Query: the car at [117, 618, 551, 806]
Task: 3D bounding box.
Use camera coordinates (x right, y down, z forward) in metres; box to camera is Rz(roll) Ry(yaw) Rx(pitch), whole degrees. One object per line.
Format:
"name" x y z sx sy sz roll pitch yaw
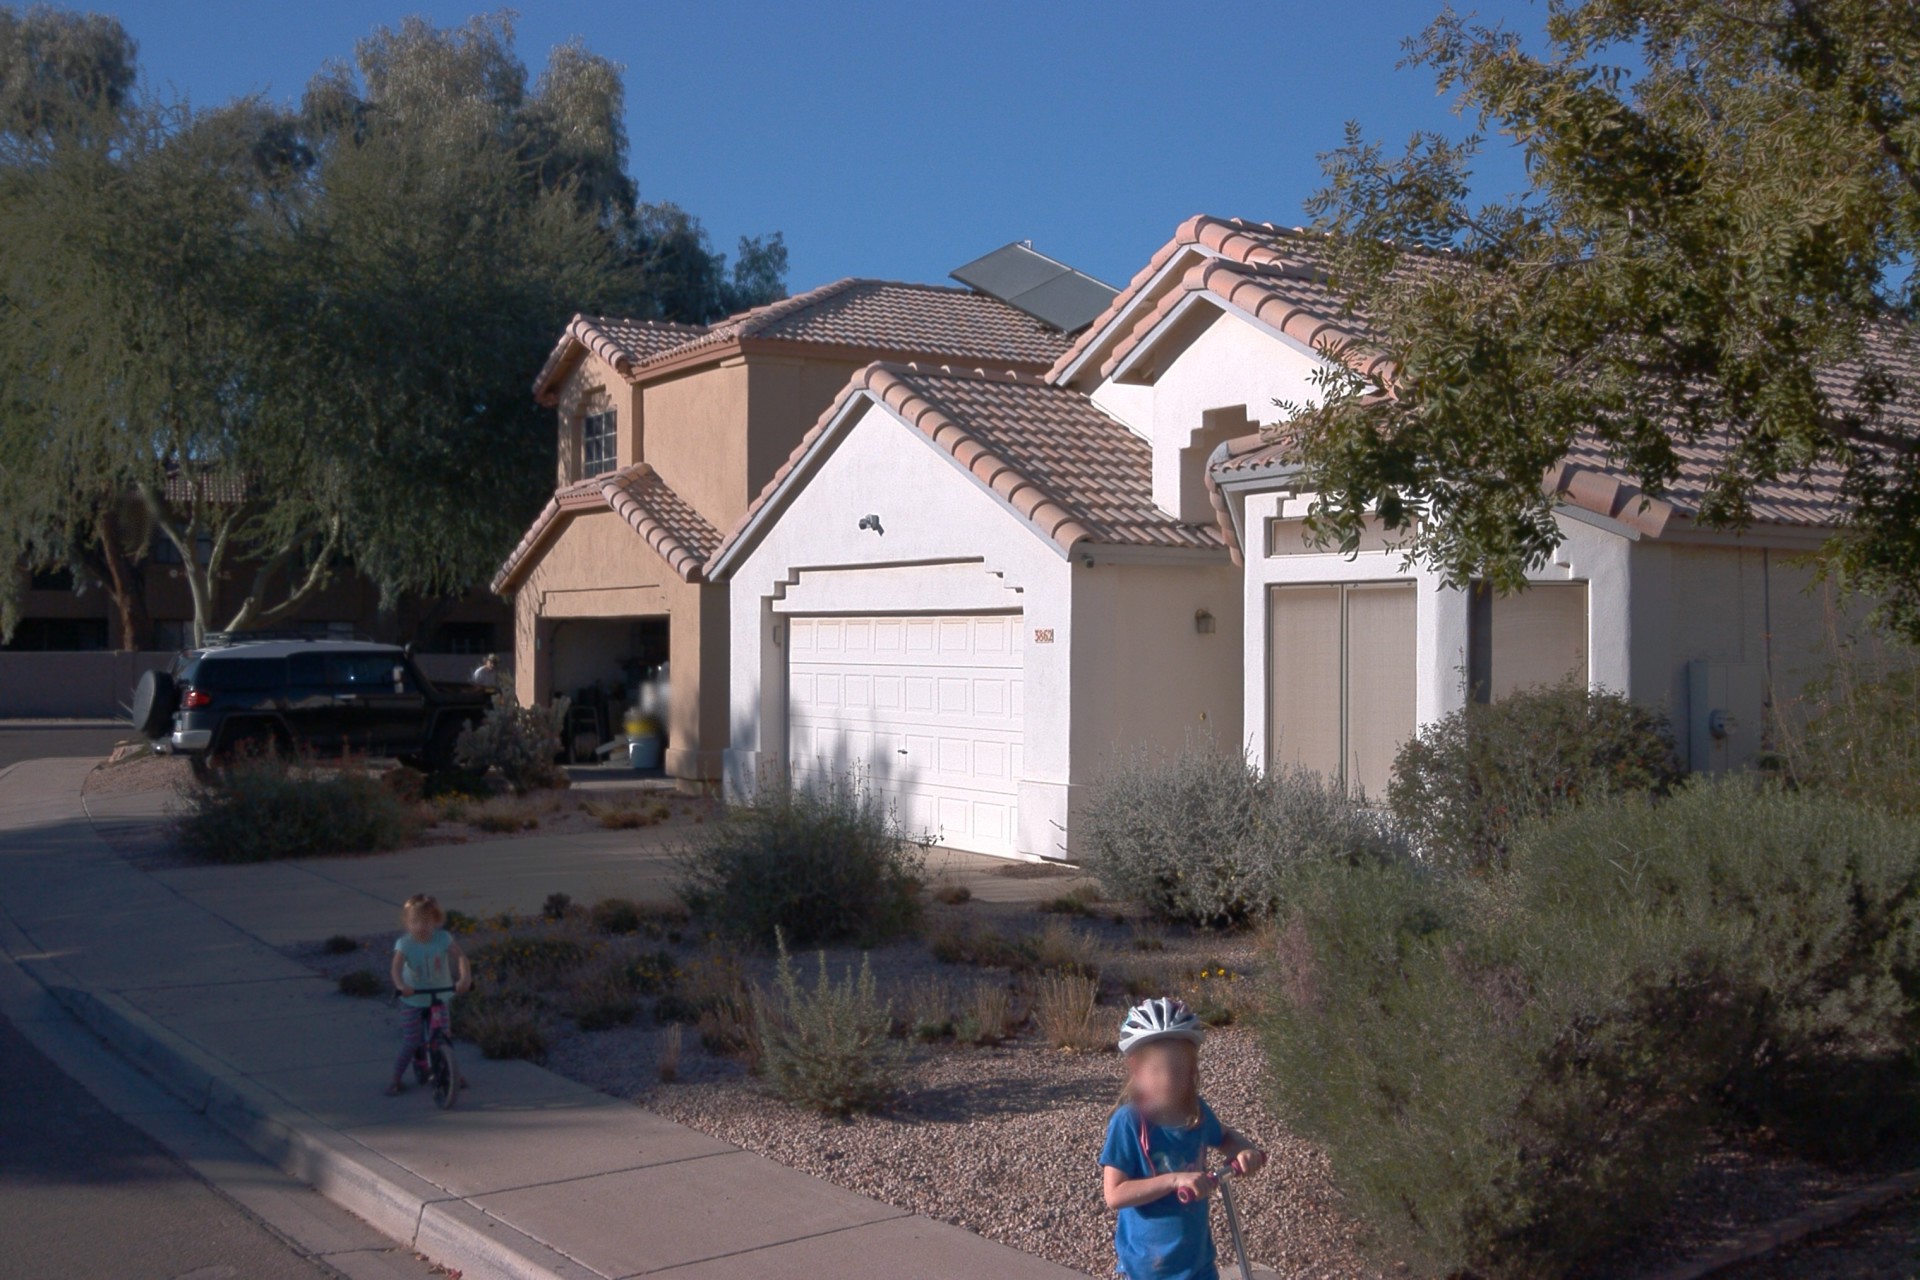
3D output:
"car" -8.082 0.904 26.854 4.984 2.240 2.025 1 -1 -31

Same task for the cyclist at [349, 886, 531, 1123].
"cyclist" -2.324 1.595 9.210 0.527 0.890 0.831 1 -1 -33

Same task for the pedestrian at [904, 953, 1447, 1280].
"pedestrian" 0.488 1.449 4.921 1.177 1.230 0.538 0 -1 42
